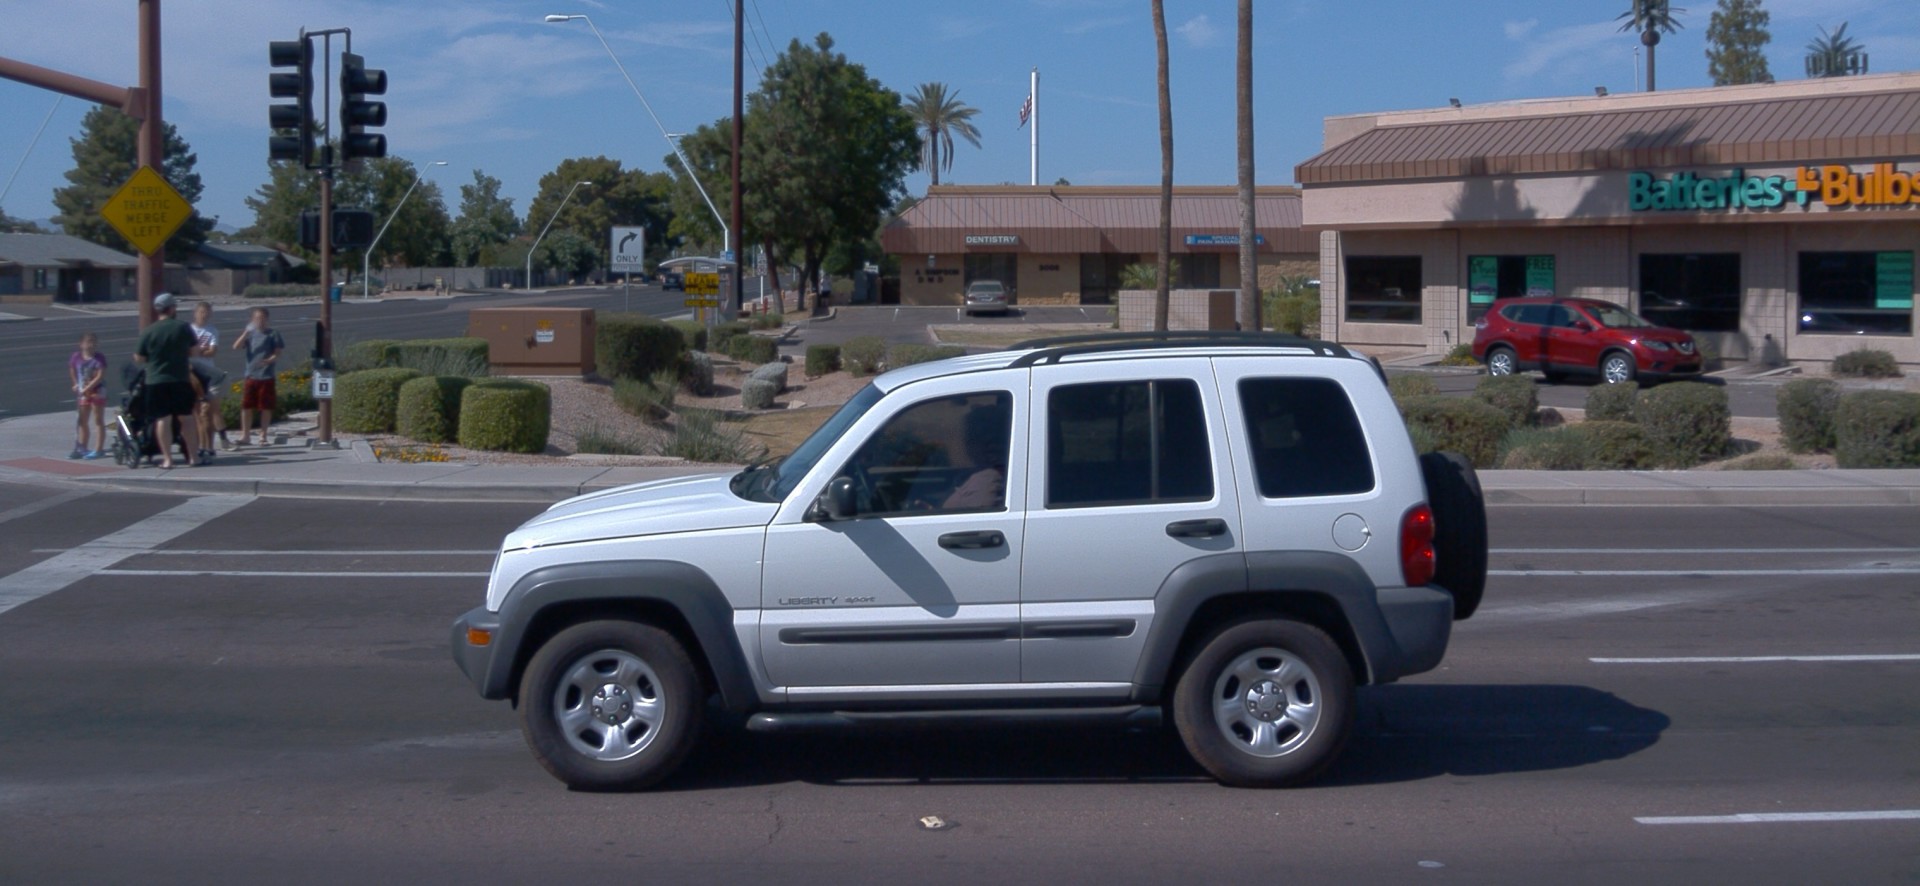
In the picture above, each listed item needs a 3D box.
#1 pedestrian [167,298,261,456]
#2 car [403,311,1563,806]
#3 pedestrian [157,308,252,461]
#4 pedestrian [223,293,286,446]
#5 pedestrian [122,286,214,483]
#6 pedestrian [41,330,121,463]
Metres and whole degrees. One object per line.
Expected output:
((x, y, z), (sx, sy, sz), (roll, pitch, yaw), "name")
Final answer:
((-8.314, -0.755, 23.217), (0.684, 1.711, 0.702), (0, 1, 23), "pedestrian")
((0.089, 0.378, 9.123), (4.506, 1.828, 2.049), (0, 3, -2), "car")
((-8.088, -0.644, 22.328), (0.637, 1.580, 0.763), (0, 1, 13), "pedestrian")
((-8.066, -0.857, 23.832), (0.658, 1.711, 0.496), (0, 0, -16), "pedestrian")
((-8.041, -0.614, 21.151), (0.765, 1.941, 0.564), (-1, 0, -35), "pedestrian")
((-9.543, -0.512, 22.633), (0.646, 1.400, 0.565), (0, 1, -5), "pedestrian")
